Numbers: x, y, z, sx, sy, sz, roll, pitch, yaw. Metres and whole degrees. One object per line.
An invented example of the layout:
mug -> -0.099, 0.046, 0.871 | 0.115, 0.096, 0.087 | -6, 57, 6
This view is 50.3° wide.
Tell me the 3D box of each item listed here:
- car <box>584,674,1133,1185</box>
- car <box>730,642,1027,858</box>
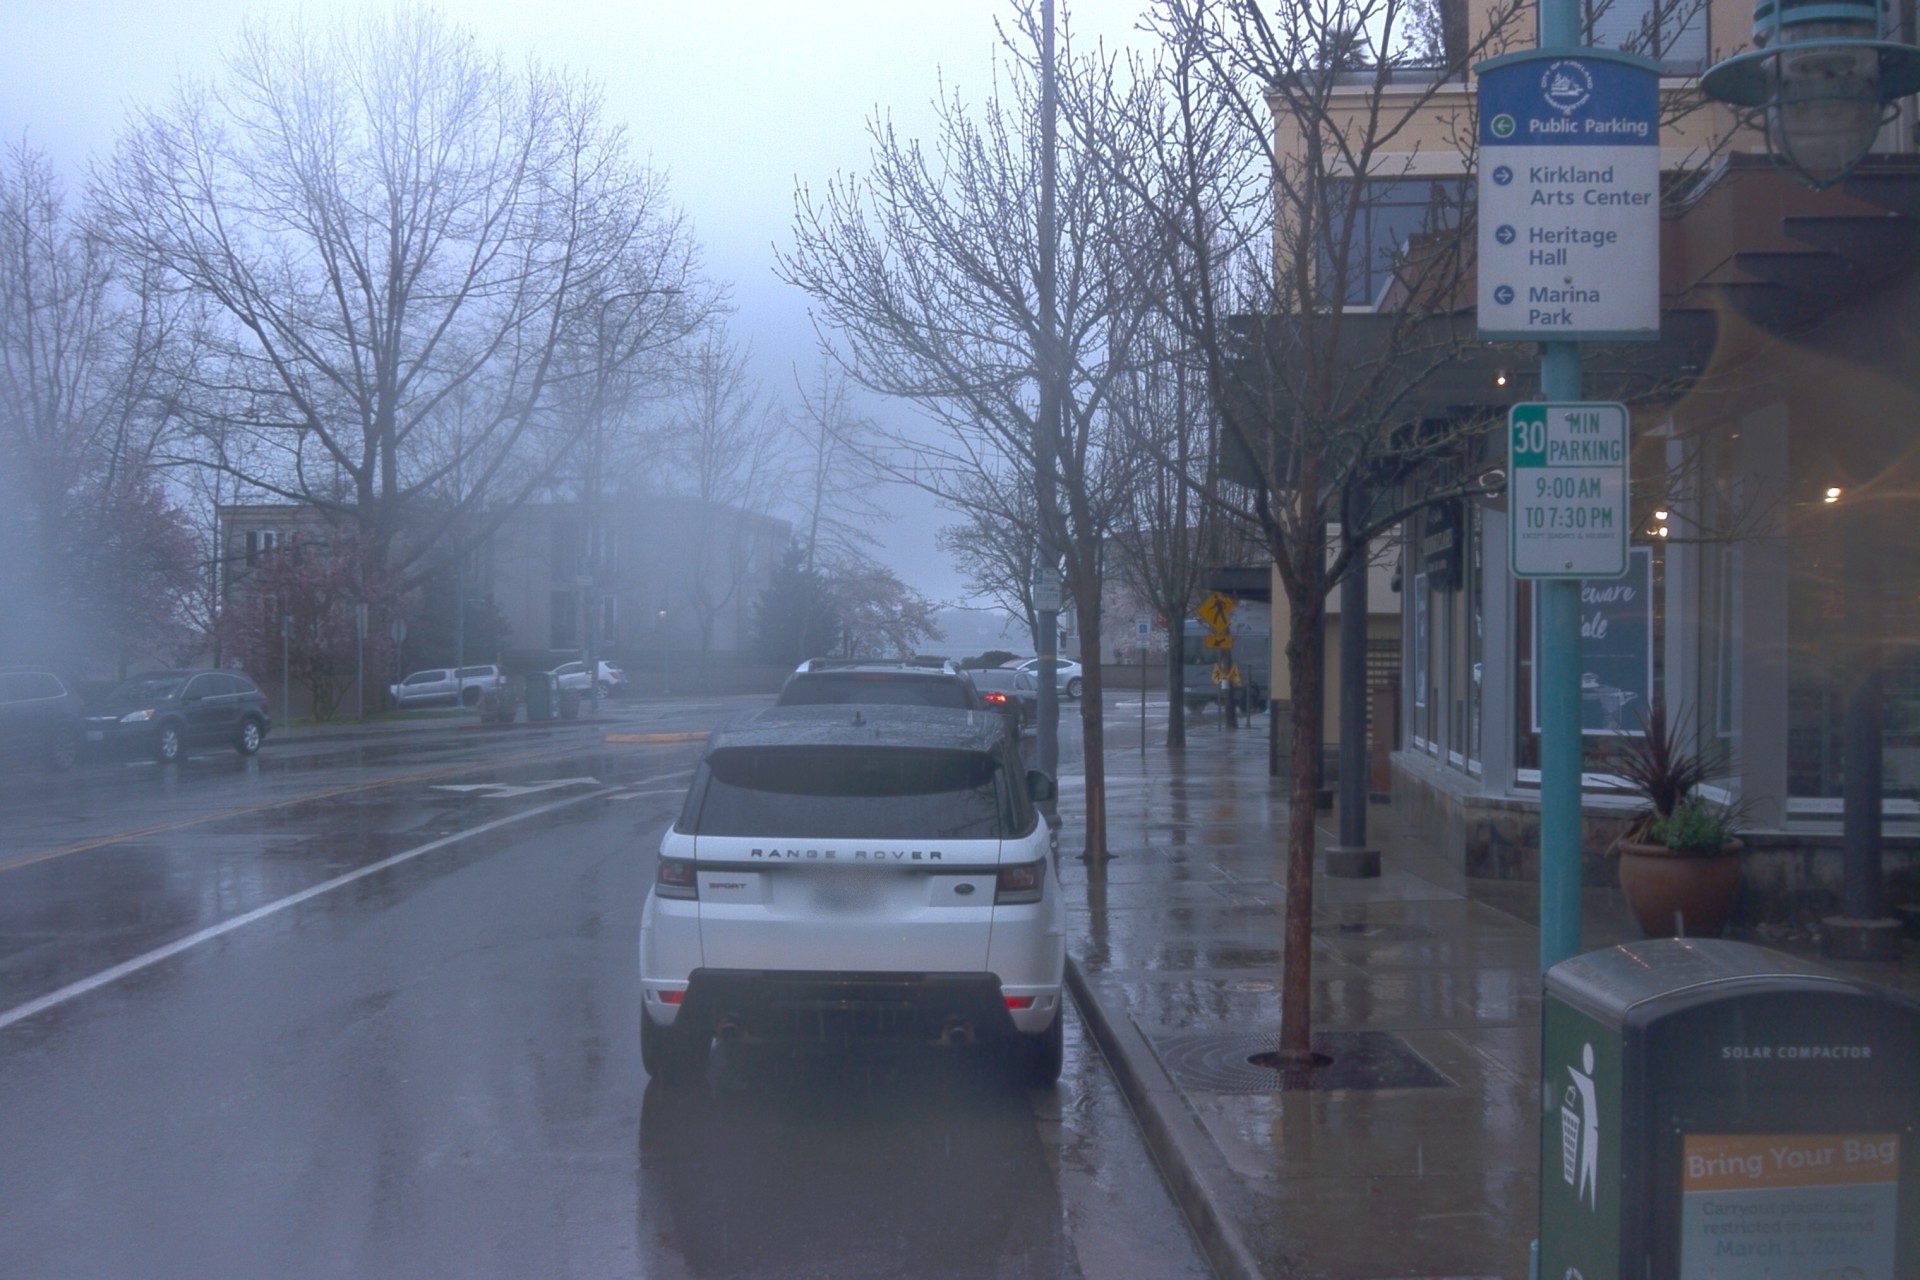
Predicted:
car -> -0.519, 1.261, 11.131 | 2.265, 2.000, 5.125 | 1, 0, -2
car -> -0.711, 0.833, 17.963 | 2.210, 1.560, 5.097 | 1, 0, -2
